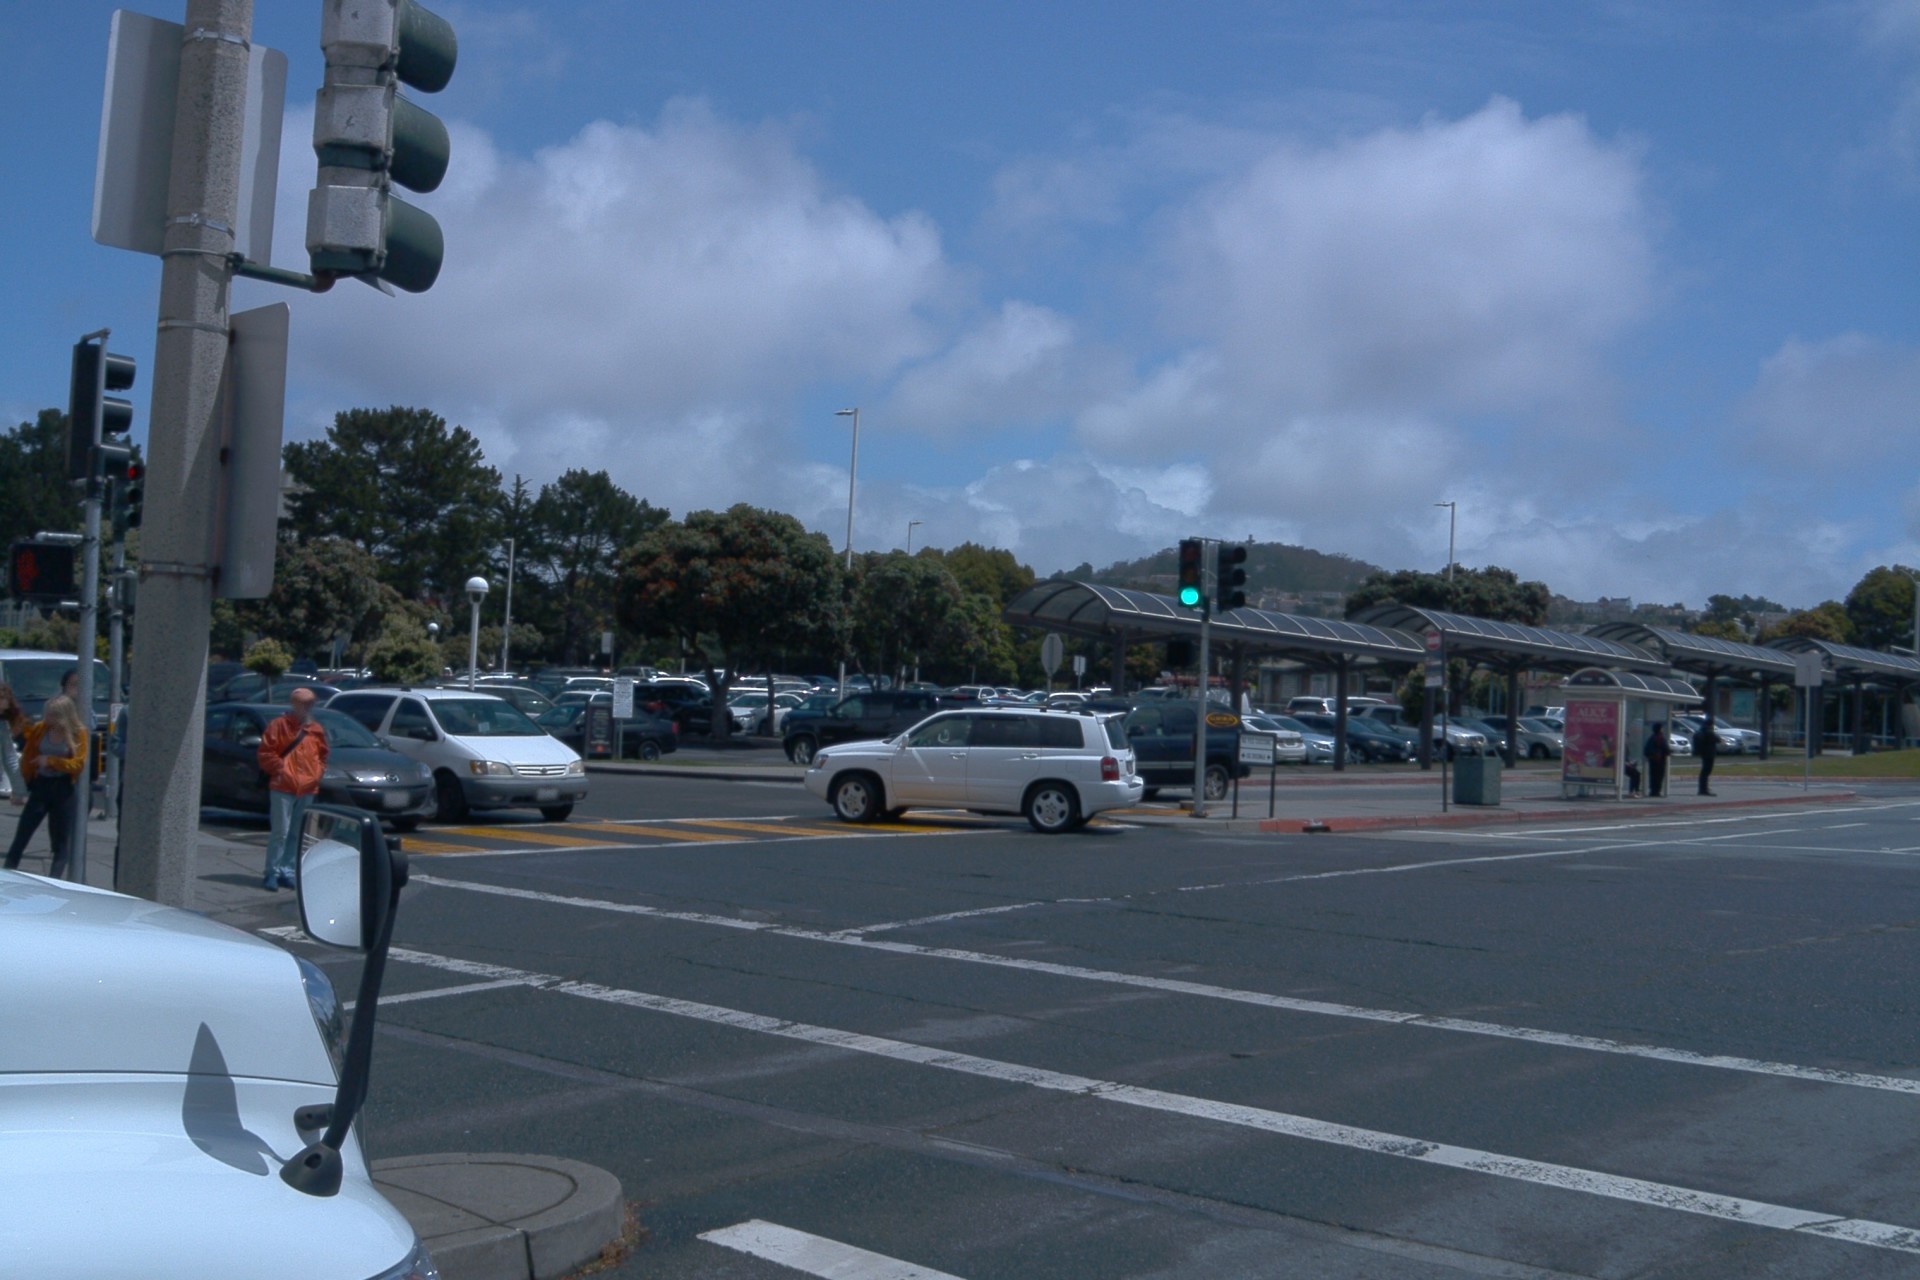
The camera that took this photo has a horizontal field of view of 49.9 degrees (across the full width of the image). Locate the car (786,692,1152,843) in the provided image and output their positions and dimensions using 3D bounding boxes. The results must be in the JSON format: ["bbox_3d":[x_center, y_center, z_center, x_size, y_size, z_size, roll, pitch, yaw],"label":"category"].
[{"bbox_3d":[0.162,1.697,28.451,4.652,1.850,2.101,0,1,14],"label":"car"}]

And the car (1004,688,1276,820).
[{"bbox_3d":[3.334,2.002,37.661,4.907,2.087,2.144,-1,1,-41],"label":"car"}]

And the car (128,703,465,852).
[{"bbox_3d":[-8.063,1.580,24.903,4.356,1.450,1.969,1,1,43],"label":"car"}]

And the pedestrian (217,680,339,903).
[{"bbox_3d":[-5.745,1.233,17.340,0.867,1.740,1.248,0,1,-23],"label":"pedestrian"}]

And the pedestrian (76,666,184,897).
[{"bbox_3d":[-6.163,1.030,15.355,0.713,1.650,0.639,0,1,-20],"label":"pedestrian"}]

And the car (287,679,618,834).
[{"bbox_3d":[-6.839,1.473,27.575,4.587,1.750,2.034,1,1,42],"label":"car"}]
